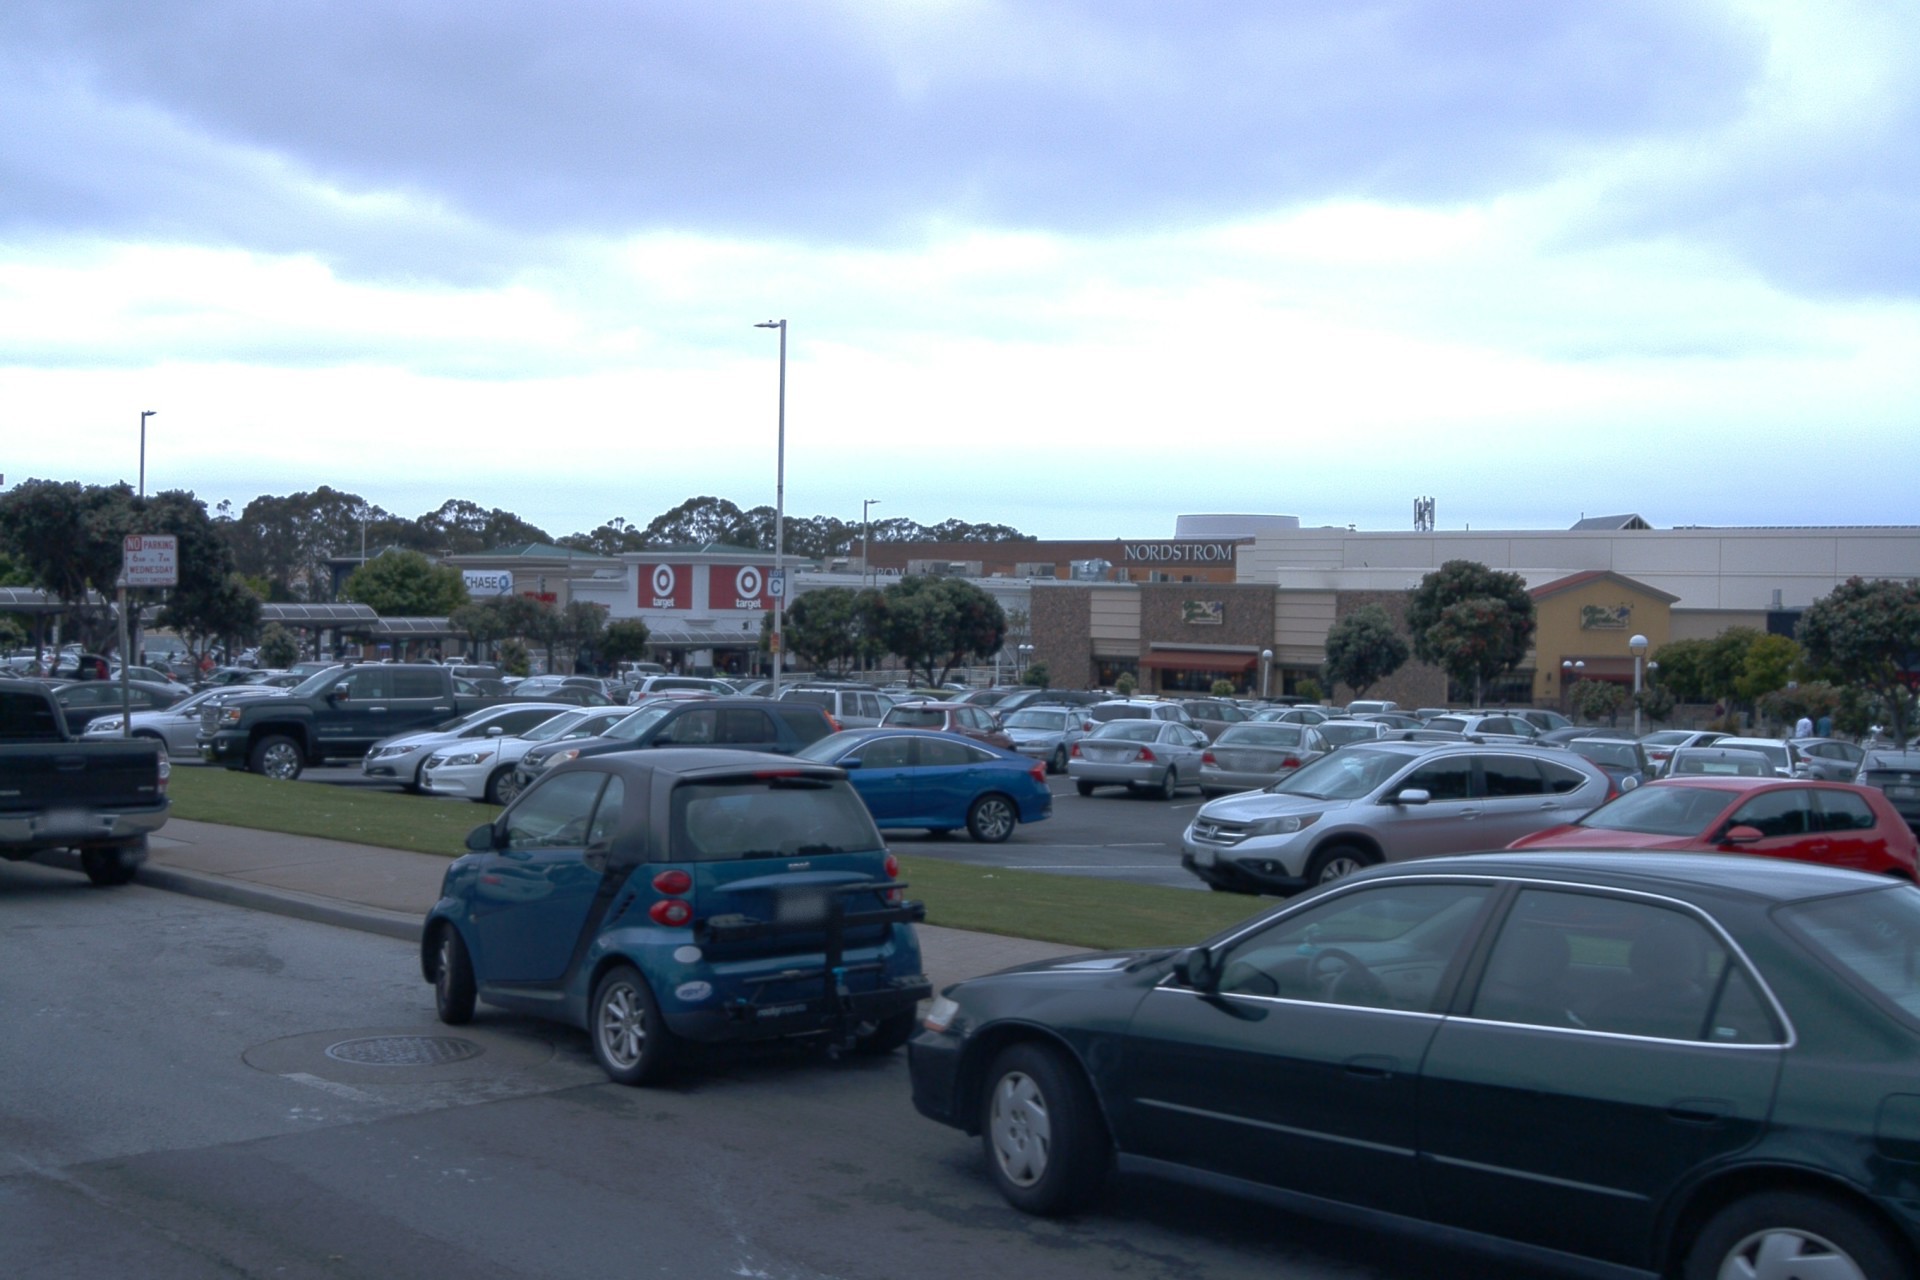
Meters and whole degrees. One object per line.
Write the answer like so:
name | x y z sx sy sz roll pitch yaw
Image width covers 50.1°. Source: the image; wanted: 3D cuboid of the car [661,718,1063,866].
car | -1.247 1.861 26.143 4.634 1.550 2.129 0 0 -24

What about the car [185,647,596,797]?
car | -9.347 1.260 33.899 6.031 2.200 2.650 0 0 -30

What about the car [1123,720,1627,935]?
car | 4.090 1.744 20.241 4.491 1.720 2.110 0 0 -26

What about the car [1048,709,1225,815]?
car | 3.273 2.164 37.383 1.948 1.600 4.234 0 1 24

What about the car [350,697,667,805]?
car | -7.076 1.692 32.245 4.462 1.449 2.124 0 0 -26

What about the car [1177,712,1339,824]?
car | 5.194 2.135 35.393 1.960 1.600 4.174 0 1 20

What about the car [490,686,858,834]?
car | -3.863 1.555 27.845 4.405 1.710 2.256 0 0 -29

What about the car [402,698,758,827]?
car | -5.529 1.720 29.955 4.683 1.590 2.135 0 0 -26

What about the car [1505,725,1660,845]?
car | 11.307 2.535 37.124 2.177 1.735 4.840 0 1 23
